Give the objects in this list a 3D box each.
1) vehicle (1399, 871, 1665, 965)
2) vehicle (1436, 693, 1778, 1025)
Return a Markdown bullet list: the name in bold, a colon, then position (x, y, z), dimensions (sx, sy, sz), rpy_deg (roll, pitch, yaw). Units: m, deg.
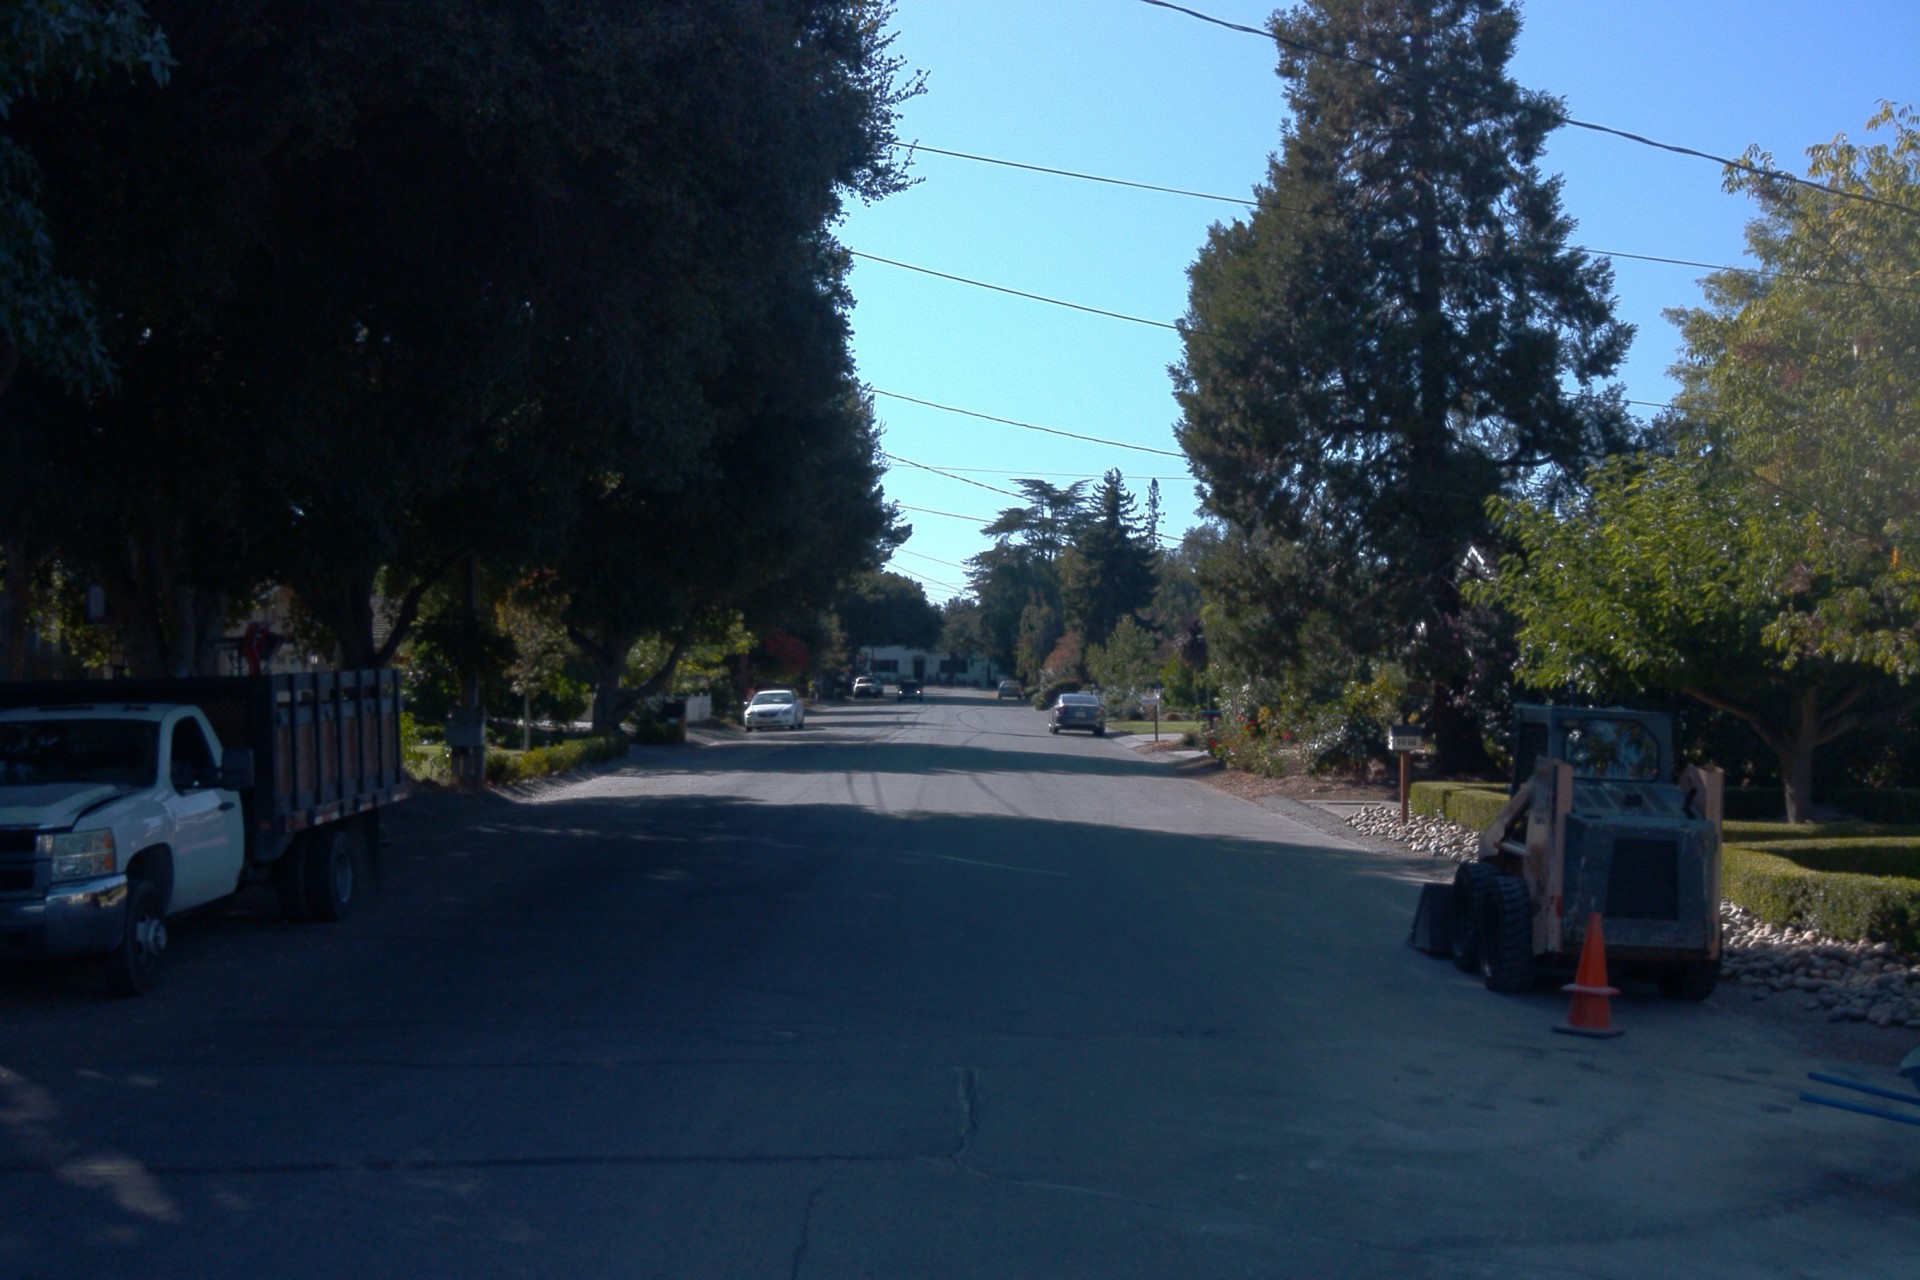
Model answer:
- **vehicle**: position (4.375, 2.132, 15.959), dimensions (1.806, 0.600, 0.918), rpy_deg (0, 0, 2)
- **vehicle**: position (4.342, 1.407, 14.230), dimensions (1.620, 2.040, 2.457), rpy_deg (0, 0, 1)
